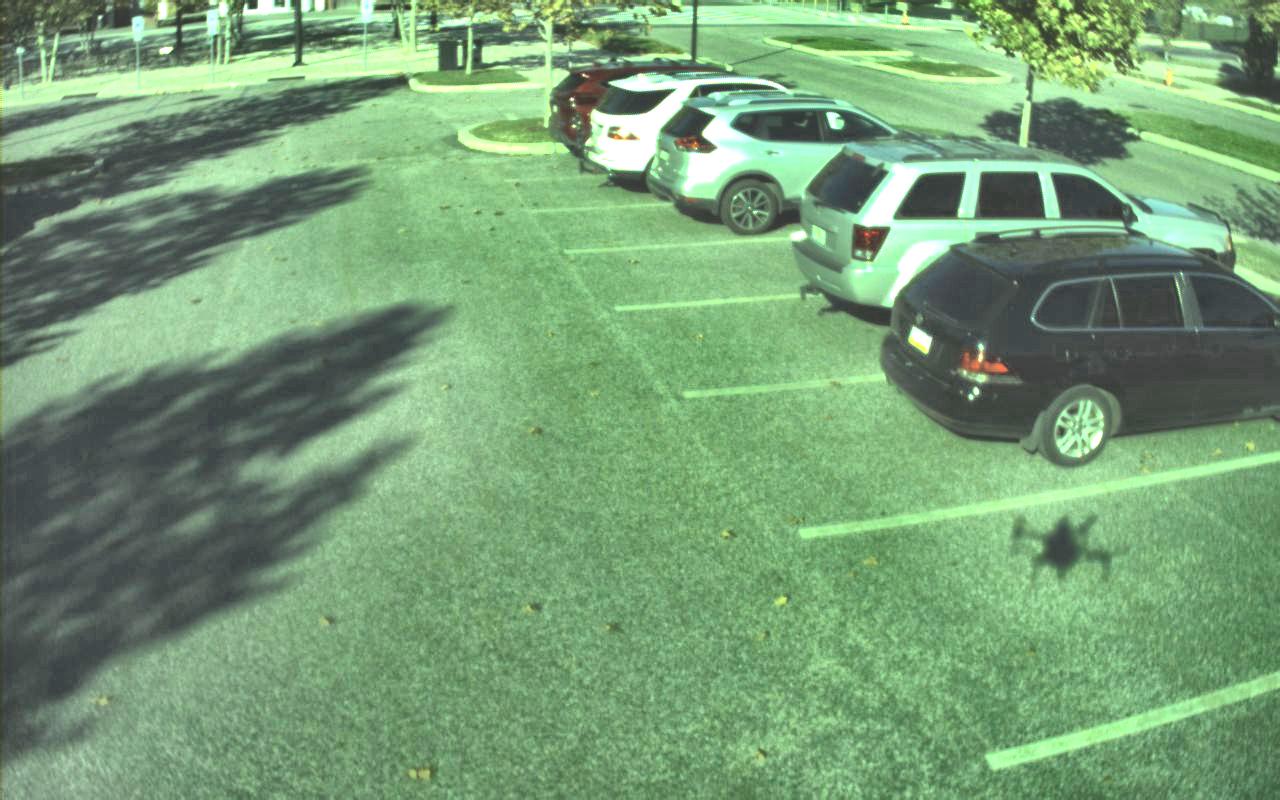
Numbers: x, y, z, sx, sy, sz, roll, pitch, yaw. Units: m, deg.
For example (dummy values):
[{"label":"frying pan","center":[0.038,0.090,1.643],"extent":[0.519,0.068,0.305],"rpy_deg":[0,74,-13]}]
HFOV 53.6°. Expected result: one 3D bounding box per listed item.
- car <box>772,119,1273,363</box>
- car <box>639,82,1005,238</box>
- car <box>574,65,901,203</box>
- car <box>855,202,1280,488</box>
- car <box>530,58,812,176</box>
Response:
[{"label":"car","center":[3.824,-1.707,11.805],"extent":[4.739,1.895,2.056],"rpy_deg":[-5,17,-12]},{"label":"car","center":[2.419,-3.299,16.486],"extent":[4.520,1.801,1.988],"rpy_deg":[-5,17,-12]},{"label":"car","center":[1.474,-4.116,18.804],"extent":[4.571,1.821,2.008],"rpy_deg":[-6,17,-16]},{"label":"car","center":[4.068,-0.621,9.390],"extent":[4.415,1.571,1.919],"rpy_deg":[-5,17,-13]},{"label":"car","center":[0.506,-4.944,21.396],"extent":[4.483,1.783,1.988],"rpy_deg":[-5,17,-14]}]
